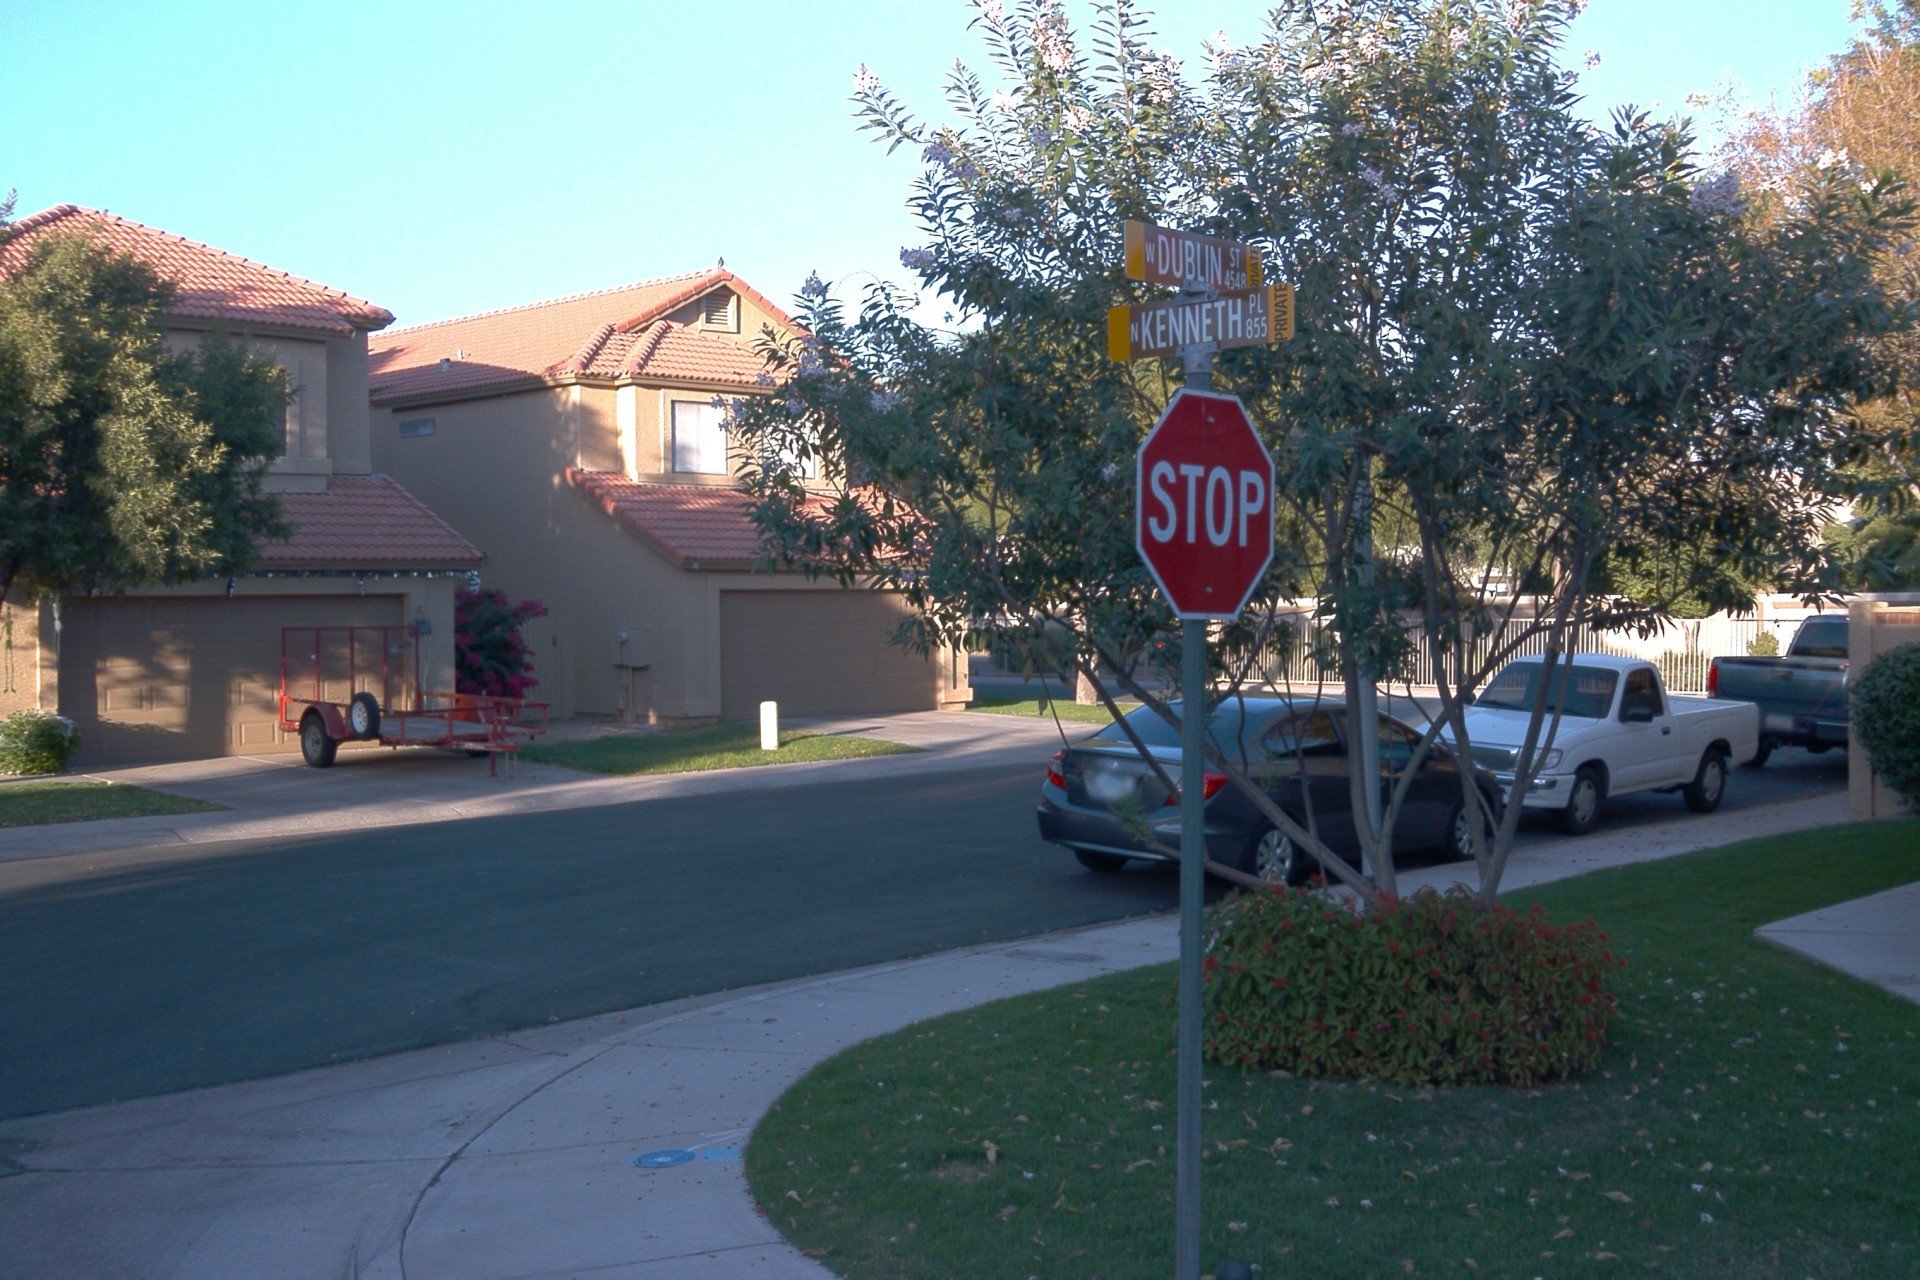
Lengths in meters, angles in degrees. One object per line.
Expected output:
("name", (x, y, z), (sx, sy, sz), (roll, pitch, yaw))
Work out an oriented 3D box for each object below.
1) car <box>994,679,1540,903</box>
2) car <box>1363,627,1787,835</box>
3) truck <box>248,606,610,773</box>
("car", (2.545, 1.070, 16.436), (2.054, 1.470, 4.462), (0, -1, 44))
("car", (6.124, 0.809, 20.338), (2.021, 1.800, 4.702), (0, -1, 44))
("truck", (-6.725, 0.579, 26.064), (2.622, 1.900, 4.348), (1, -1, -43))
